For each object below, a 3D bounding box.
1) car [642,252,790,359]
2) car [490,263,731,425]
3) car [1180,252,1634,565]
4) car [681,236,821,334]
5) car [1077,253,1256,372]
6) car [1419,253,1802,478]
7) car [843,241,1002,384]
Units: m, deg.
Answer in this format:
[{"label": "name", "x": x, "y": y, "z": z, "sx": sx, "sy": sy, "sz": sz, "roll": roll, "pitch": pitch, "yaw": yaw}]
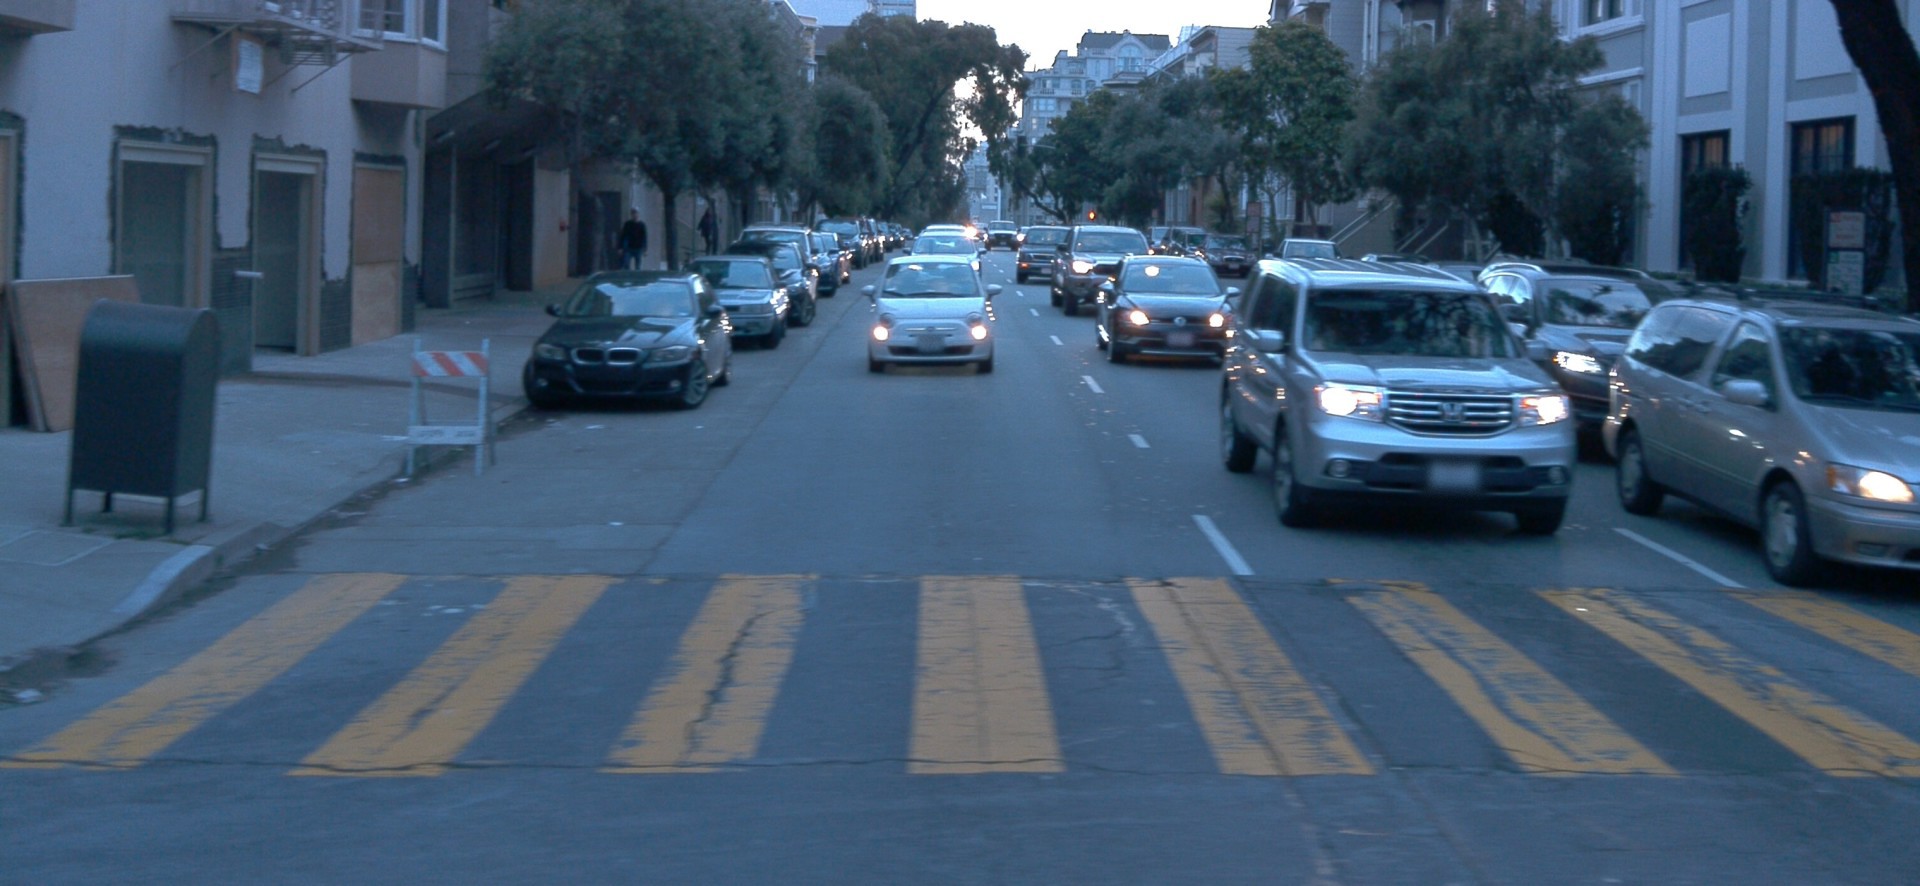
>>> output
[{"label": "car", "x": -3.675, "y": -2.172, "z": 31.648, "sx": 1.863, "sy": 1.422, "sz": 4.269, "roll": 1, "pitch": 6, "yaw": -2}, {"label": "car", "x": -3.807, "y": -1.203, "z": 23.176, "sx": 2.030, "sy": 1.492, "sz": 4.515, "roll": 1, "pitch": 6, "yaw": -1}, {"label": "car", "x": 3.145, "y": -0.437, "z": 15.663, "sx": 2.265, "sy": 1.890, "sz": 4.771, "roll": 1, "pitch": 6, "yaw": -2}, {"label": "car", "x": -3.712, "y": -2.930, "z": 37.347, "sx": 2.117, "sy": 1.571, "sz": 4.668, "roll": 1, "pitch": 6, "yaw": -1}, {"label": "car", "x": 2.864, "y": -1.934, "z": 29.490, "sx": 2.069, "sy": 1.462, "sz": 4.411, "roll": 1, "pitch": 6, "yaw": -1}, {"label": "car", "x": 6.204, "y": -0.901, "z": 20.363, "sx": 2.225, "sy": 1.810, "sz": 5.017, "roll": 1, "pitch": 6, "yaw": 0}, {"label": "car", "x": -0.479, "y": -1.798, "z": 27.335, "sx": 1.953, "sy": 1.692, "sz": 3.529, "roll": 1, "pitch": 5, "yaw": -1}]
